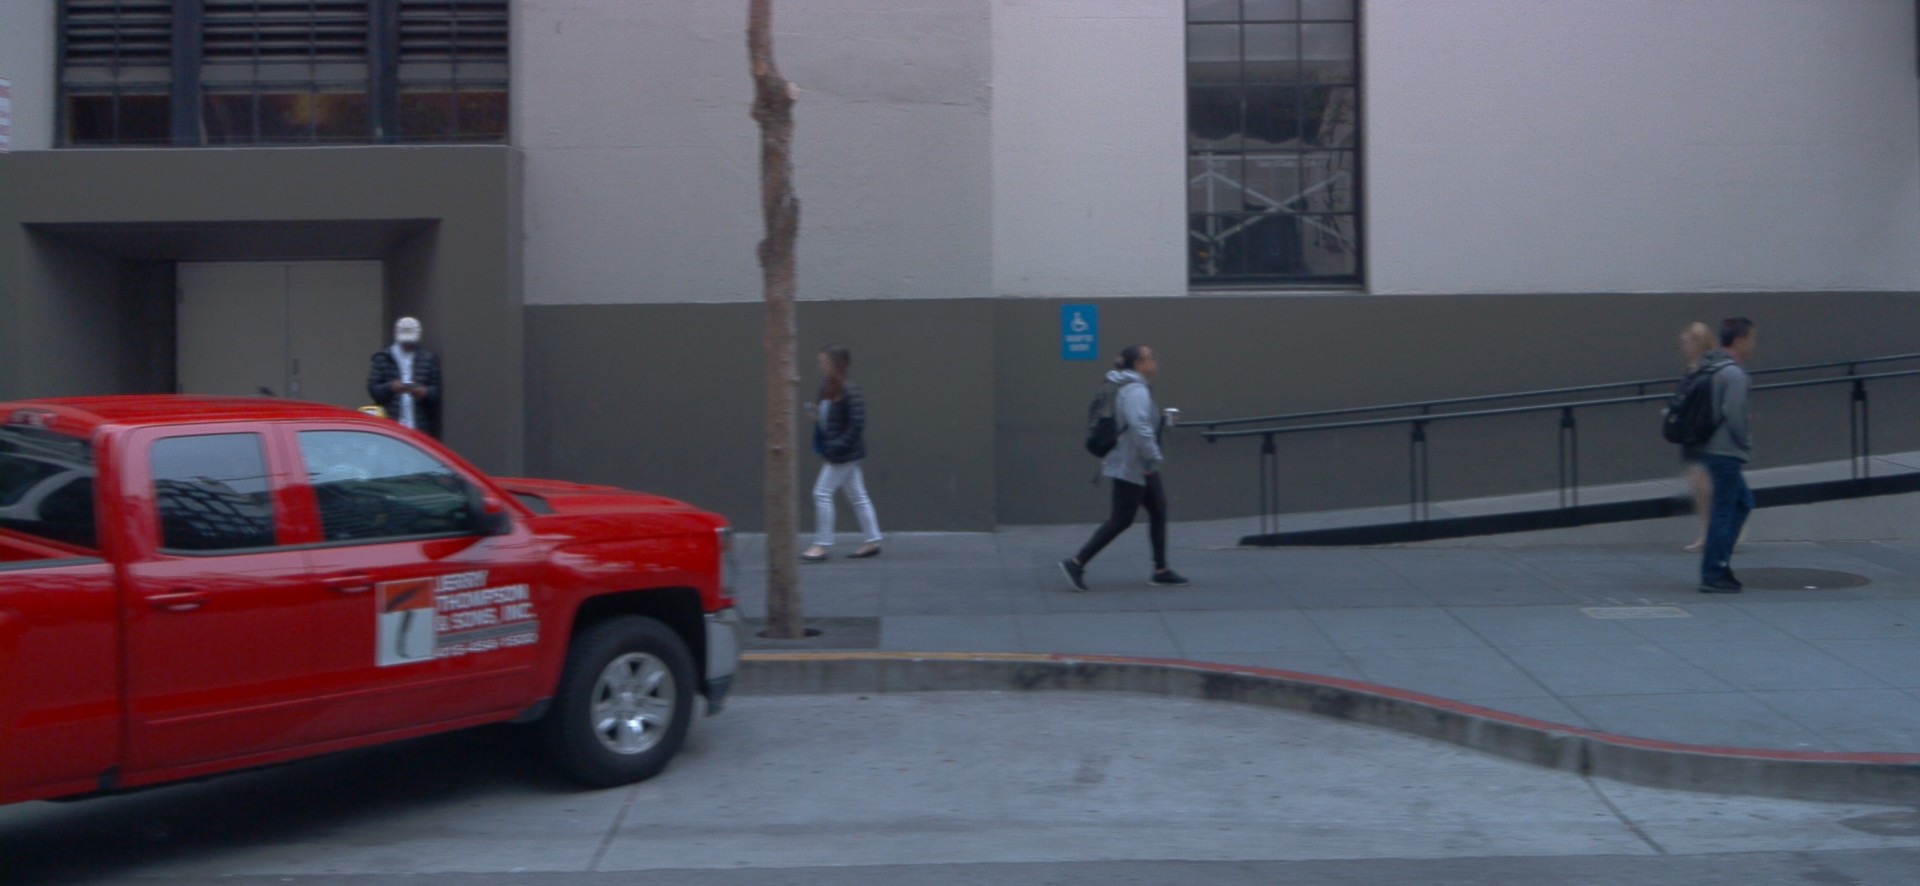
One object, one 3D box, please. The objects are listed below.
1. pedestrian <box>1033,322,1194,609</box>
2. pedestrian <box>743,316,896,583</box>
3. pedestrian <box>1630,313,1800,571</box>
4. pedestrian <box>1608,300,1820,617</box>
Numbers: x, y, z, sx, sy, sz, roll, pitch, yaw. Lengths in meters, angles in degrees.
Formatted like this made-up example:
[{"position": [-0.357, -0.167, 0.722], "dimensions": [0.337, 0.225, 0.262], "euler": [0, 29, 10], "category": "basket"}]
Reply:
[{"position": [0.990, 0.120, 13.589], "dimensions": [0.998, 1.771, 0.896], "euler": [0, 2, 1], "category": "pedestrian"}, {"position": [-1.024, 0.011, 14.917], "dimensions": [0.920, 1.786, 0.912], "euler": [-1, 2, -15], "category": "pedestrian"}, {"position": [5.438, -0.034, 14.926], "dimensions": [0.901, 1.756, 0.799], "euler": [-1, 2, -5], "category": "pedestrian"}, {"position": [4.750, 0.068, 13.077], "dimensions": [1.034, 1.899, 0.878], "euler": [0, 2, 2], "category": "pedestrian"}]
